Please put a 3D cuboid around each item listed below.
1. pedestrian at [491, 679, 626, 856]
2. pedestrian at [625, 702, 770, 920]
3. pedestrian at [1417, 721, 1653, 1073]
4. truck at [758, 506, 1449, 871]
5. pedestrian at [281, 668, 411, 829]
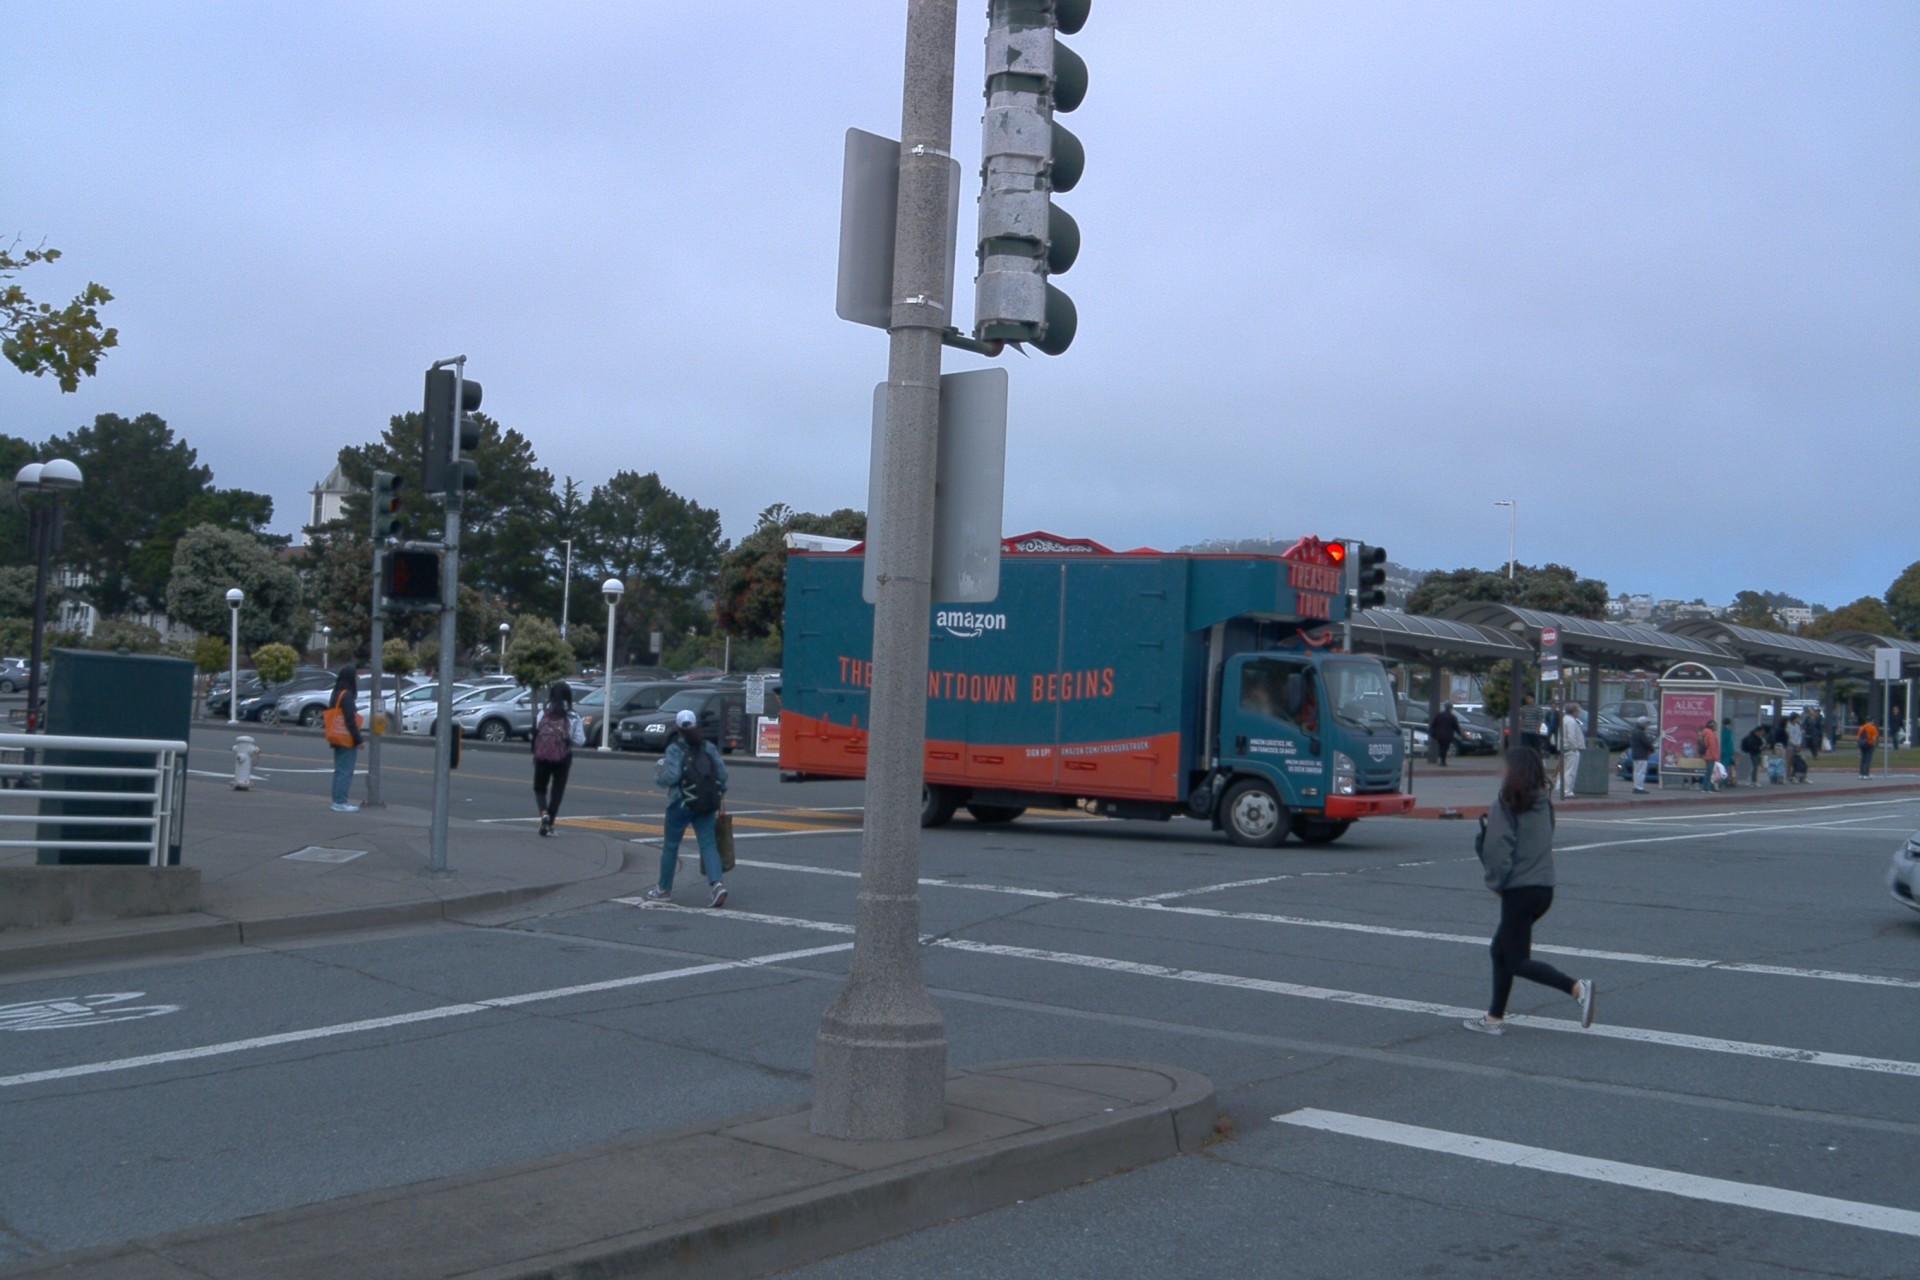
[{"bbox_3d":[-3.997,1.247,20.590,0.909,1.670,1.001,0,1,24],"label":"pedestrian"},{"bbox_3d":[-2.134,1.357,16.756,0.763,1.650,1.009,-1,1,-37],"label":"pedestrian"},{"bbox_3d":[2.954,1.273,10.611,0.928,1.650,0.750,1,1,42],"label":"pedestrian"},{"bbox_3d":[1.605,0.471,25.105,7.899,3.840,3.004,0,1,33],"label":"truck"},{"bbox_3d":[-6.768,1.170,22.744,1.085,1.690,0.921,-1,1,-40],"label":"pedestrian"}]
